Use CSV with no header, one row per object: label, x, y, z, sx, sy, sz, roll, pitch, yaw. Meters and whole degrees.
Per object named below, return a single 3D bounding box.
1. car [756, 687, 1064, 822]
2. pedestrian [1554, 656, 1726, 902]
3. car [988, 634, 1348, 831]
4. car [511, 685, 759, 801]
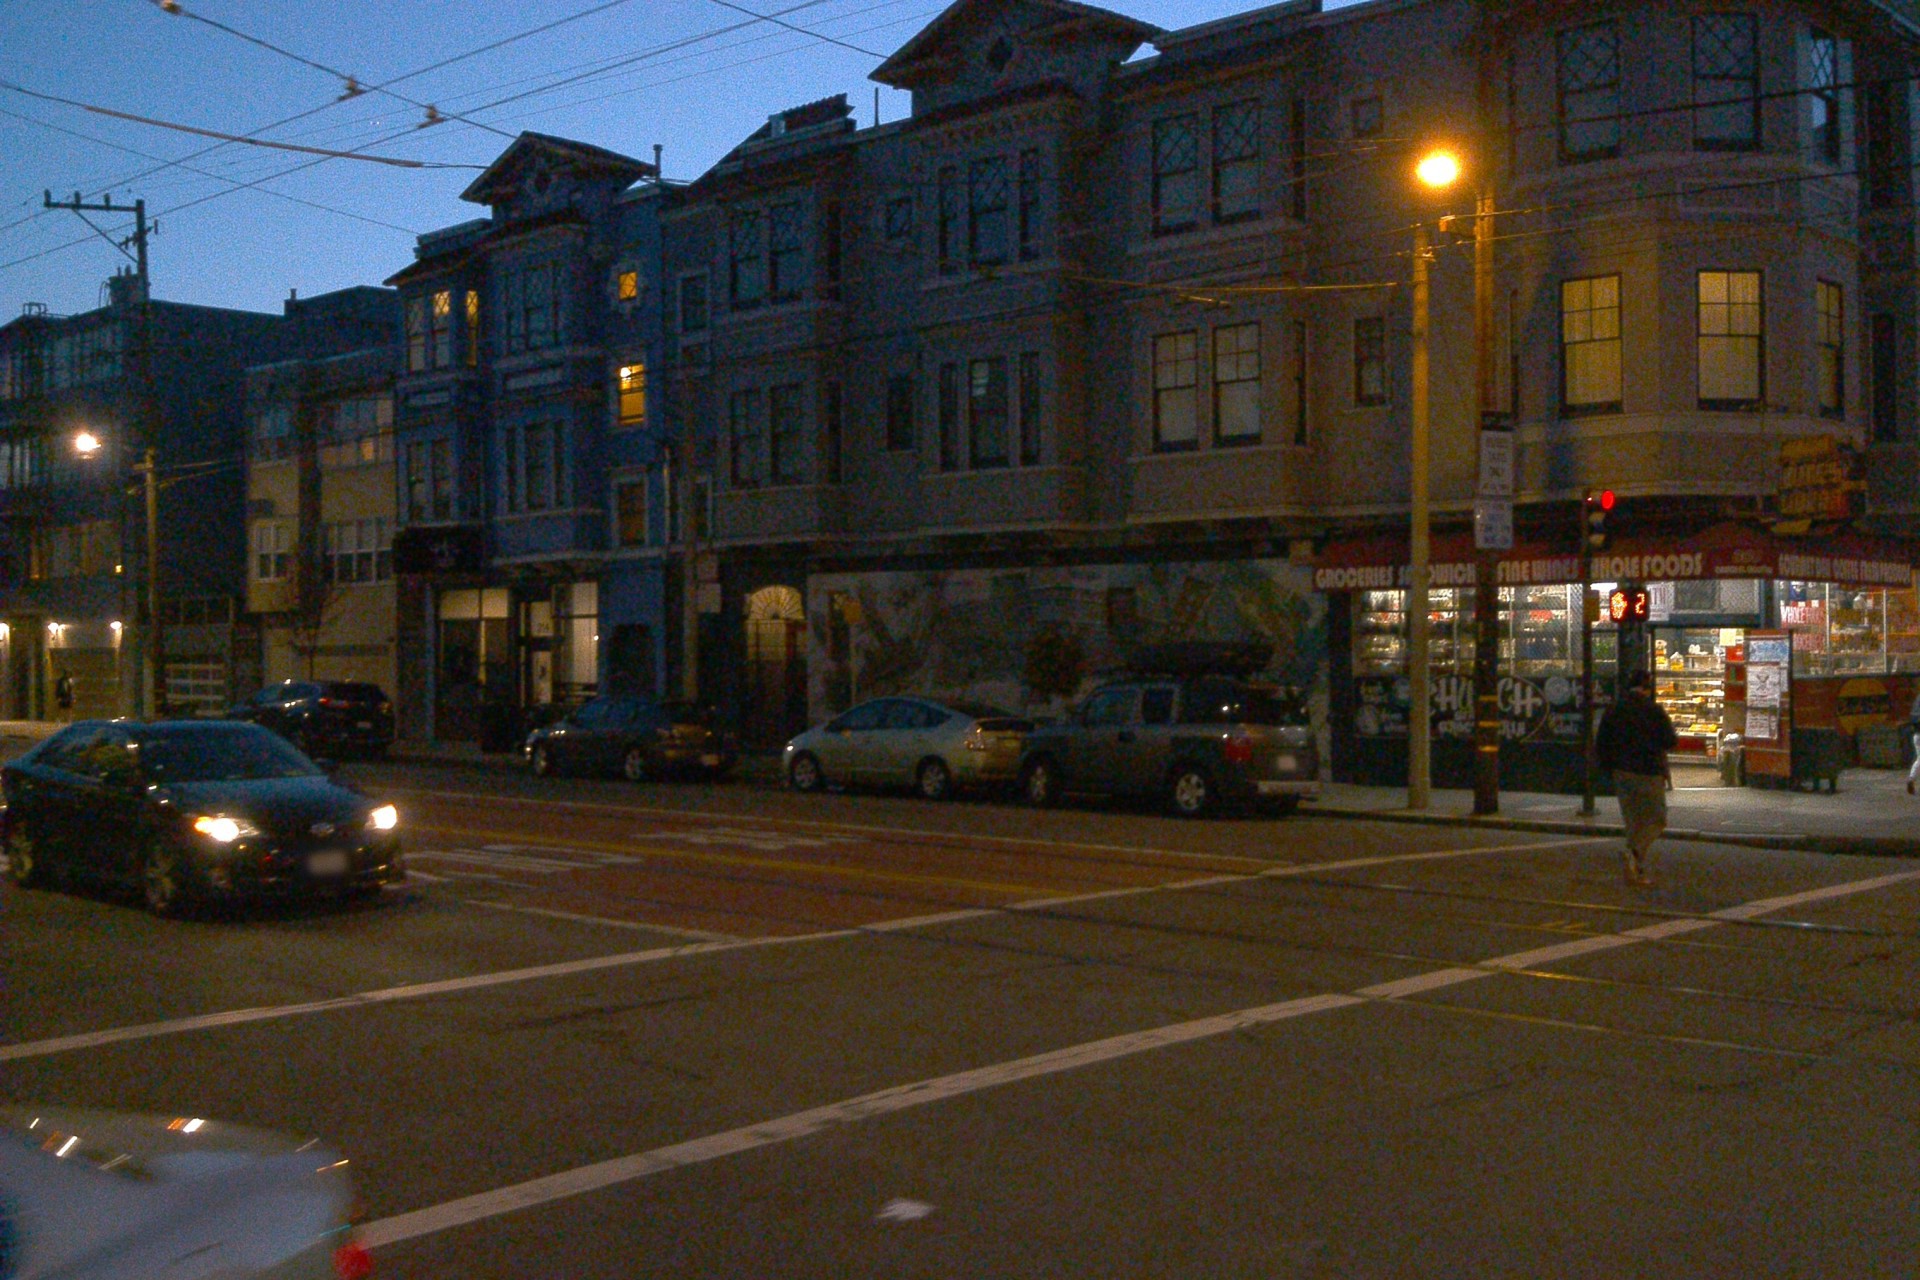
car,-0.791,1.589,30.018,4.426,1.640,1.960,1,1,45
pedestrian,5.719,1.123,17.349,0.905,1.930,1.275,1,1,43
car,2.610,1.085,26.631,2.036,2.260,4.341,-1,1,-44
car,-5.502,1.676,34.696,4.160,1.650,2.039,1,1,44
